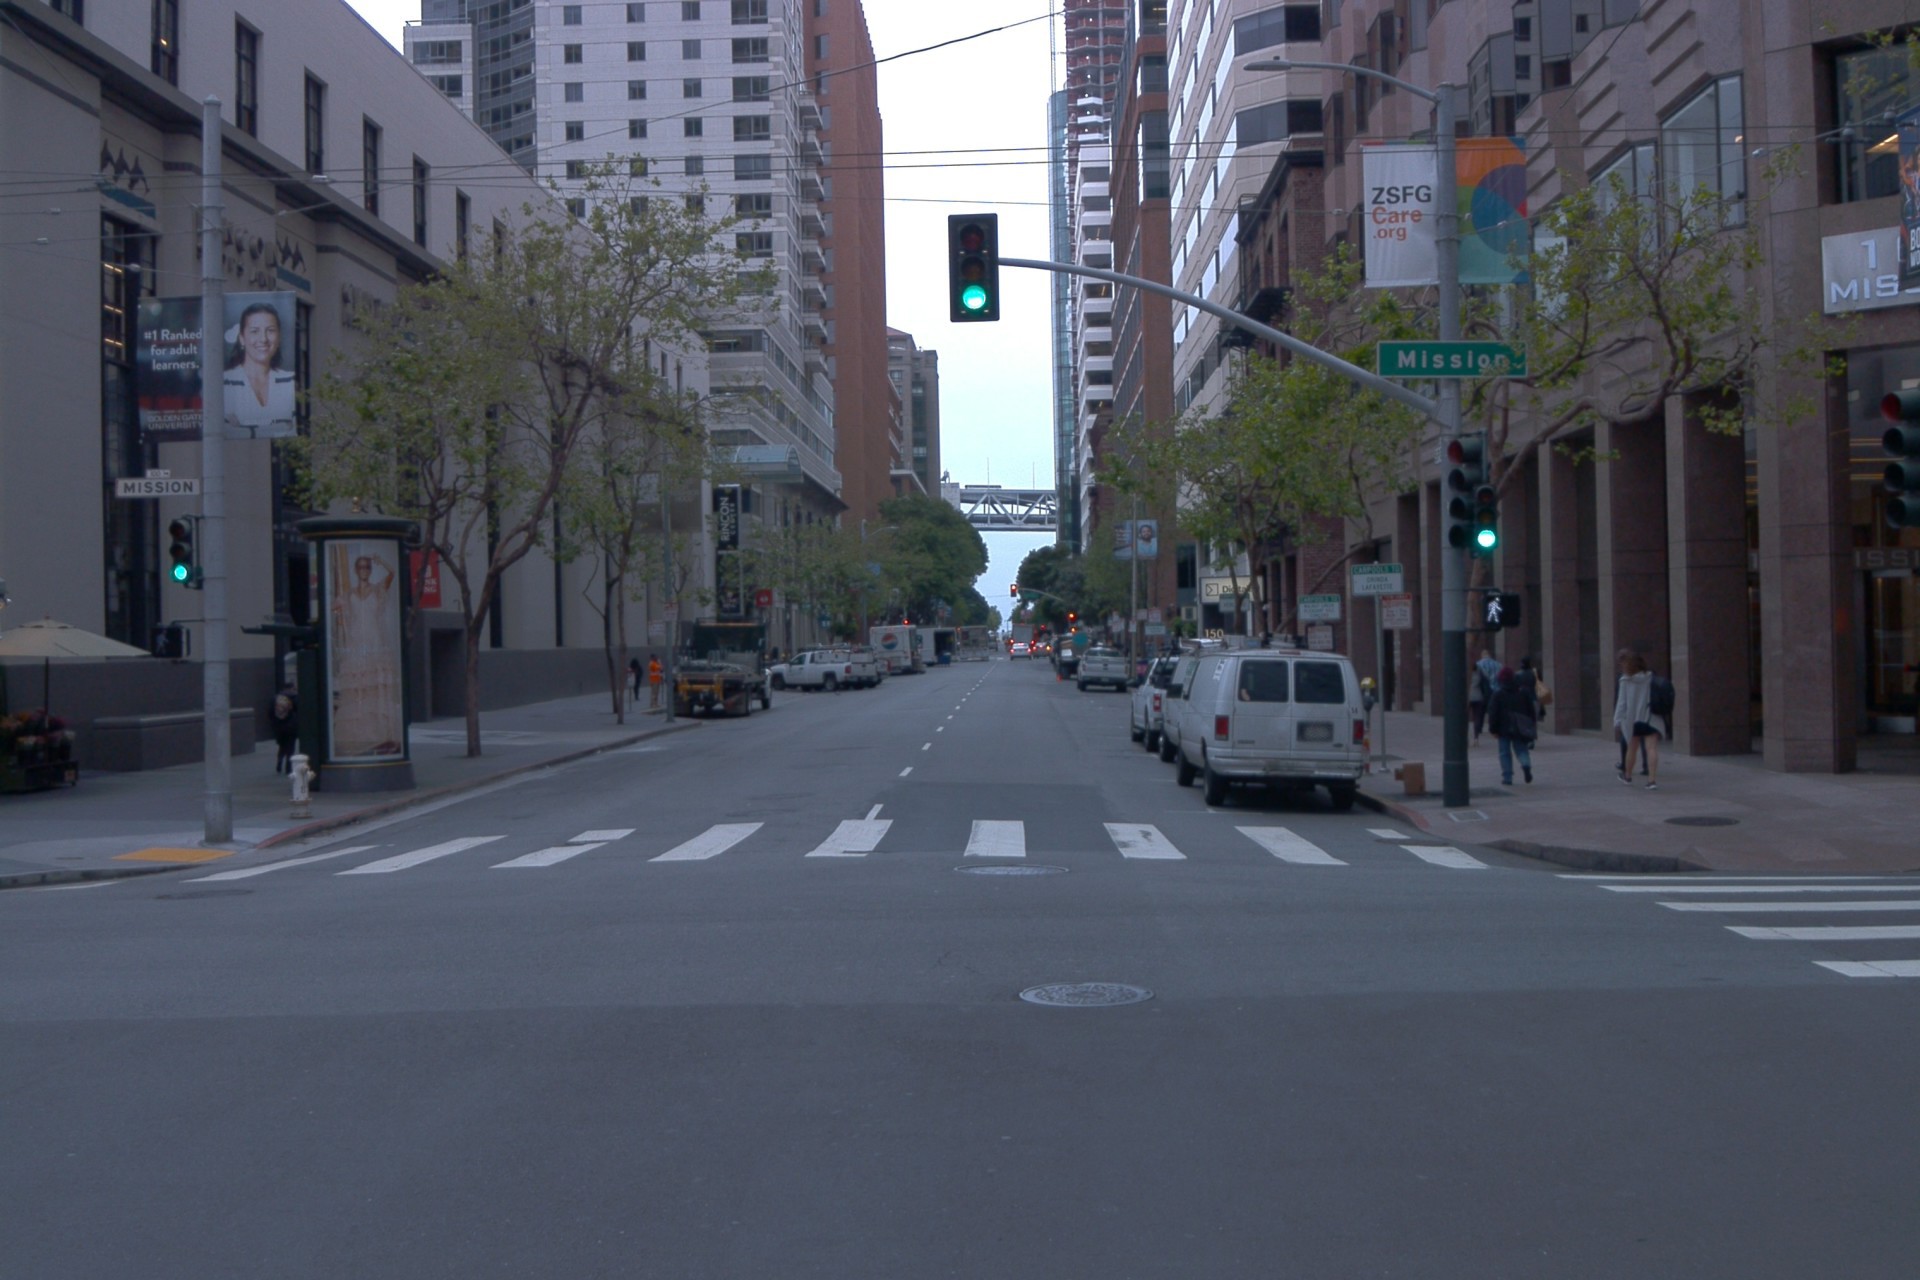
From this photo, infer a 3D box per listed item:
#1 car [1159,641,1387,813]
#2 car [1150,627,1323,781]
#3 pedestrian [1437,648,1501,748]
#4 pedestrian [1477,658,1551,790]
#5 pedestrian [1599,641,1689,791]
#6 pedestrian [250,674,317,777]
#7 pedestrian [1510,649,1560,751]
[{"bbox_3d":[4.229,1.097,28.752,2.314,2.100,5.500,0,1,0],"label":"car"},{"bbox_3d":[4.595,0.988,35.016,2.274,2.380,5.494,0,1,1],"label":"car"},{"bbox_3d":[8.818,0.996,35.667,0.919,1.696,0.981,0,1,4],"label":"pedestrian"},{"bbox_3d":[7.415,1.110,27.529,0.757,1.713,0.969,0,1,2],"label":"pedestrian"},{"bbox_3d":[8.670,0.946,26.086,0.843,1.856,0.960,0,1,2],"label":"pedestrian"},{"bbox_3d":[-11.937,1.501,36.288,0.844,1.766,0.960,0,1,0],"label":"pedestrian"},{"bbox_3d":[9.516,0.983,34.054,0.668,1.666,0.852,0,1,7],"label":"pedestrian"}]
